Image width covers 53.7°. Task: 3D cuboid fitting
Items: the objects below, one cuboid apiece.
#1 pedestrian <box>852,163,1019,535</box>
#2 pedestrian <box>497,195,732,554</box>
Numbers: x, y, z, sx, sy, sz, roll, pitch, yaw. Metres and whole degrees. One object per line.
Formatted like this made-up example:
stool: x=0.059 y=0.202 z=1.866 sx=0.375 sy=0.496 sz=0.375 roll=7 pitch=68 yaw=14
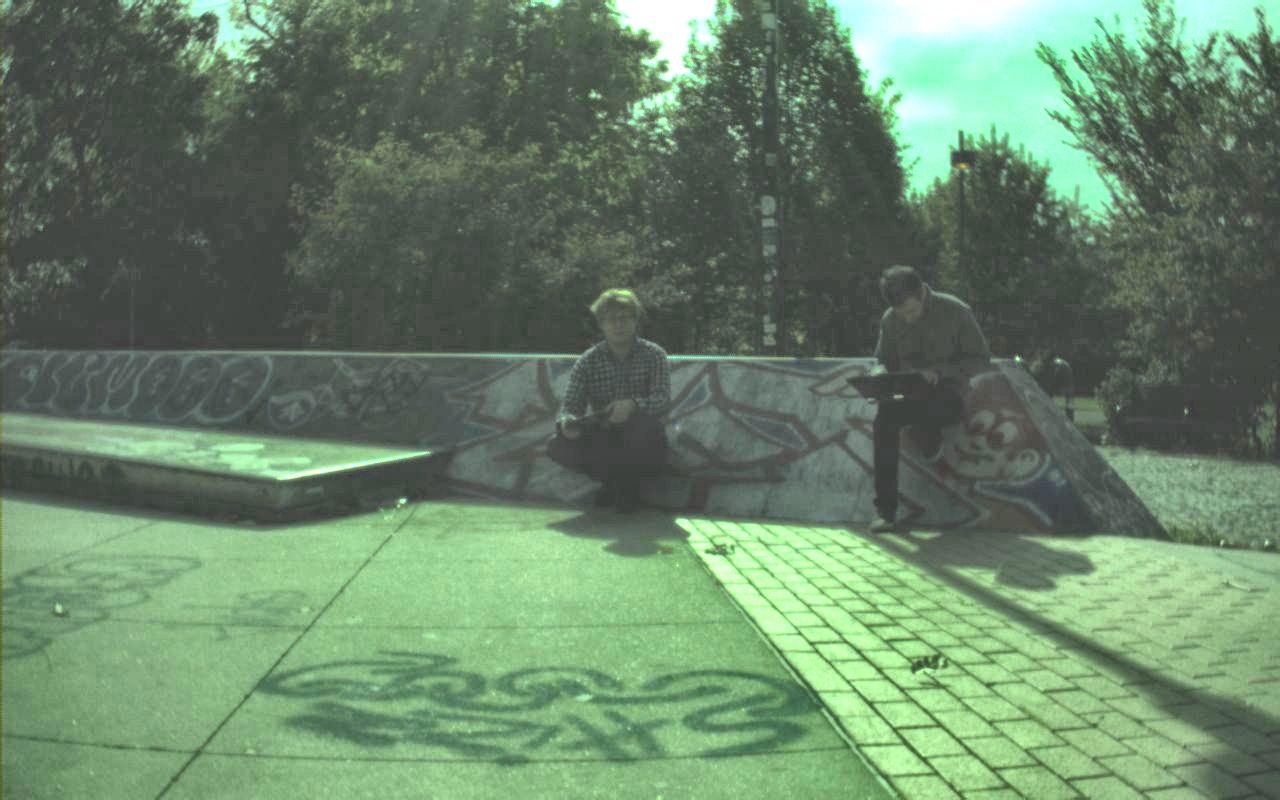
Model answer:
pedestrian: x=1.367 y=-0.227 z=5.751 sx=0.734 sy=1.624 sz=0.793 roll=0 pitch=0 yaw=10
pedestrian: x=-0.137 y=-0.128 z=6.241 sx=0.844 sy=1.622 sz=0.828 roll=0 pitch=0 yaw=-36
